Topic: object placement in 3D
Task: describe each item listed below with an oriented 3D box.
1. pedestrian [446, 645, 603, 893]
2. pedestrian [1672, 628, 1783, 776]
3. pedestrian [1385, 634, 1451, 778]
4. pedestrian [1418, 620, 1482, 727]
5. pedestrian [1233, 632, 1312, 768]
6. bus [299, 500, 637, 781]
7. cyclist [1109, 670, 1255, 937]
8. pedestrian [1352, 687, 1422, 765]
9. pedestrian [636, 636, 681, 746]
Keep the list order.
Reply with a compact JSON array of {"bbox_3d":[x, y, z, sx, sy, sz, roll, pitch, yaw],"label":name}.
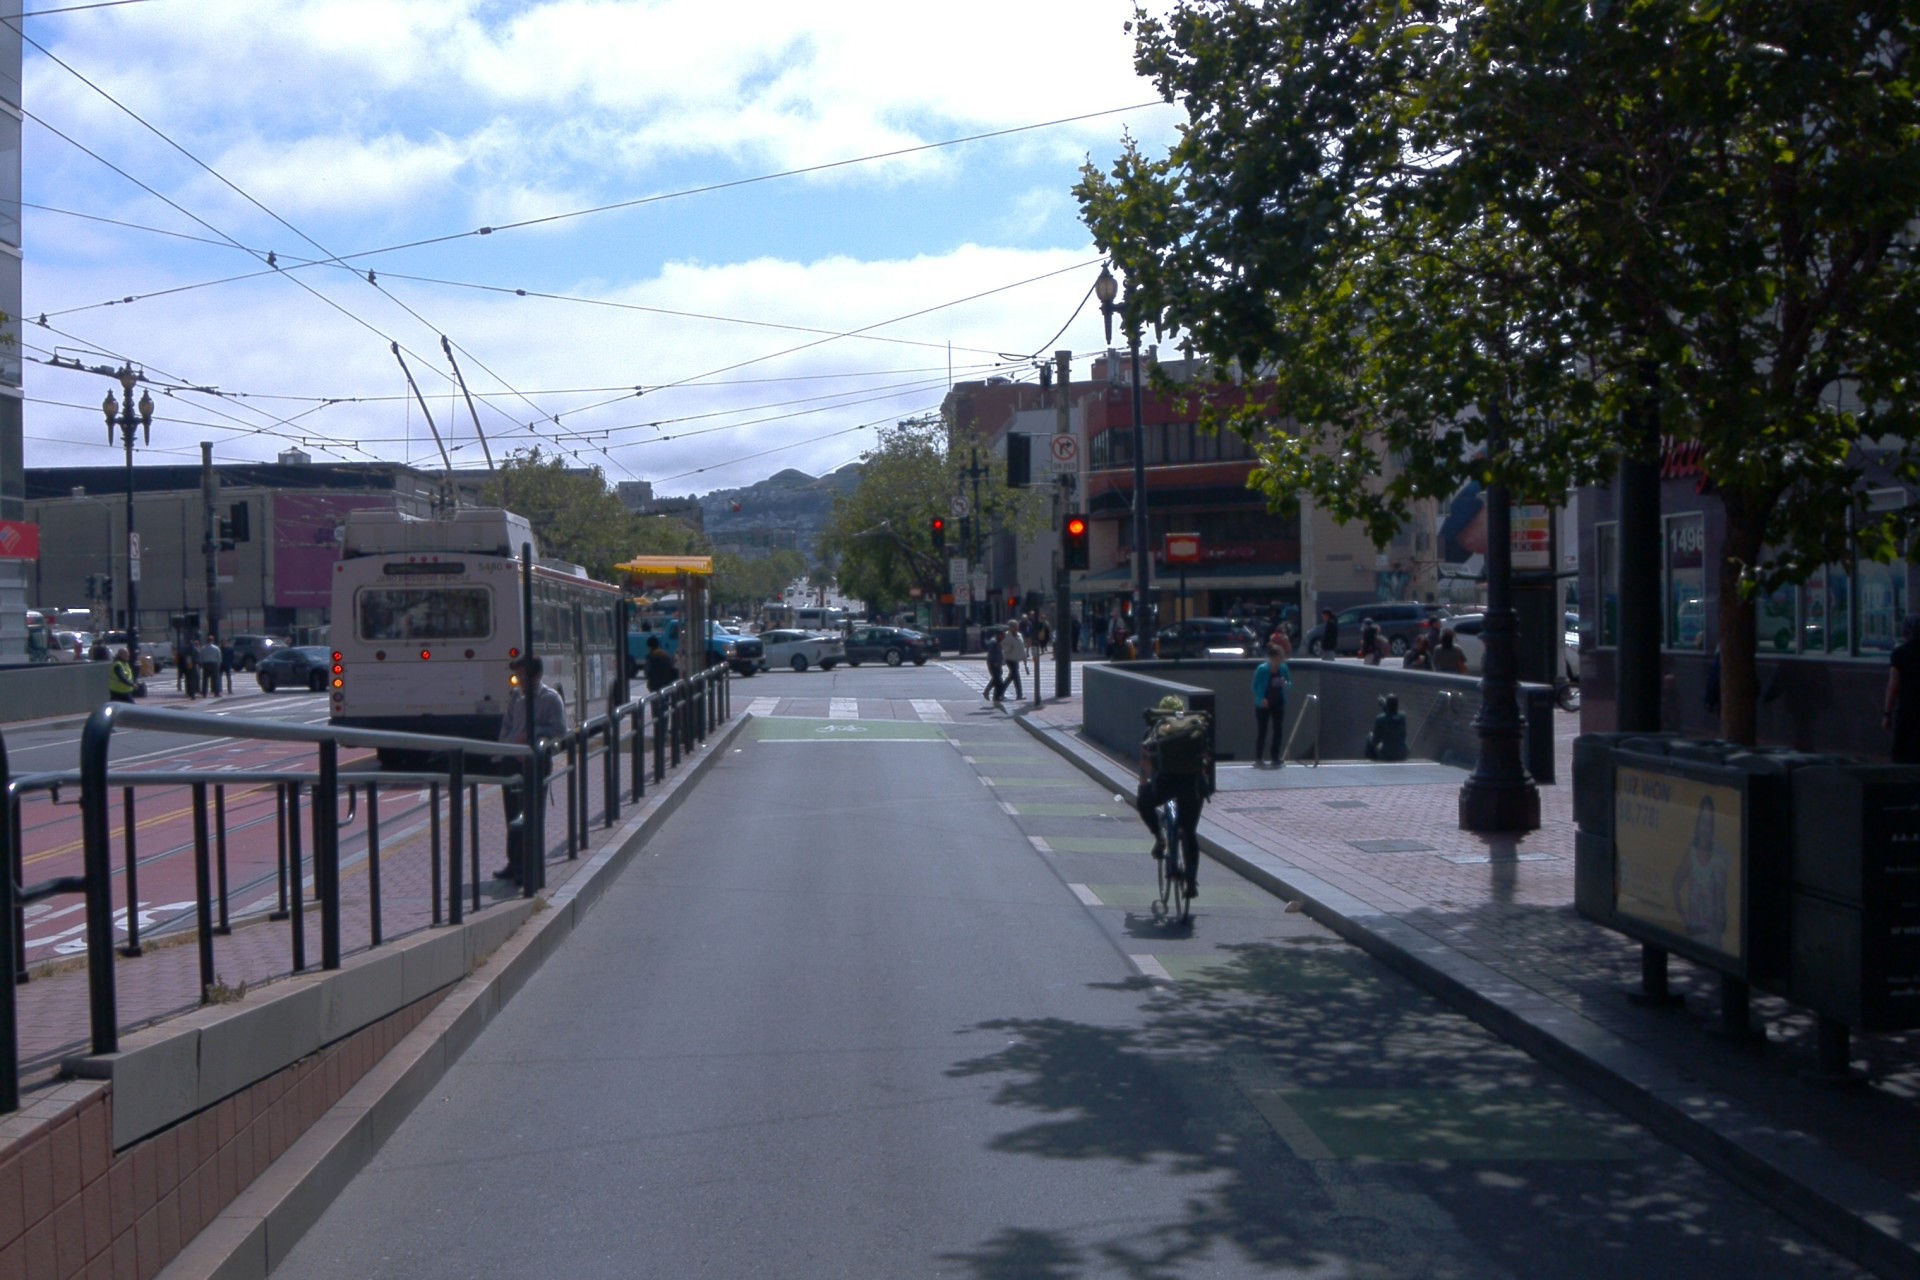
[{"bbox_3d":[-3.205,0.920,15.168,0.807,1.750,0.799,0,1,24],"label":"pedestrian"},{"bbox_3d":[8.964,0.708,24.037,0.880,1.680,1.055,0,1,-1],"label":"pedestrian"},{"bbox_3d":[7.106,1.007,31.907,0.779,2.200,0.956,0,1,-2],"label":"pedestrian"},{"bbox_3d":[8.111,0.538,34.054,0.756,1.740,0.858,0,1,-9],"label":"pedestrian"},{"bbox_3d":[4.097,0.776,27.030,0.750,1.740,1.053,0,1,-8],"label":"pedestrian"},{"bbox_3d":[-7.377,-0.074,32.955,3.069,3.670,12.178,0,1,-3],"label":"bus"},{"bbox_3d":[1.583,1.126,14.923,0.806,1.770,1.802,0,1,-2],"label":"cyclist"},{"bbox_3d":[5.703,1.140,27.498,0.702,1.000,0.902,0,1,-3],"label":"pedestrian"},{"bbox_3d":[-4.673,0.776,31.920,0.667,1.680,0.622,0,1,-7],"label":"pedestrian"}]
